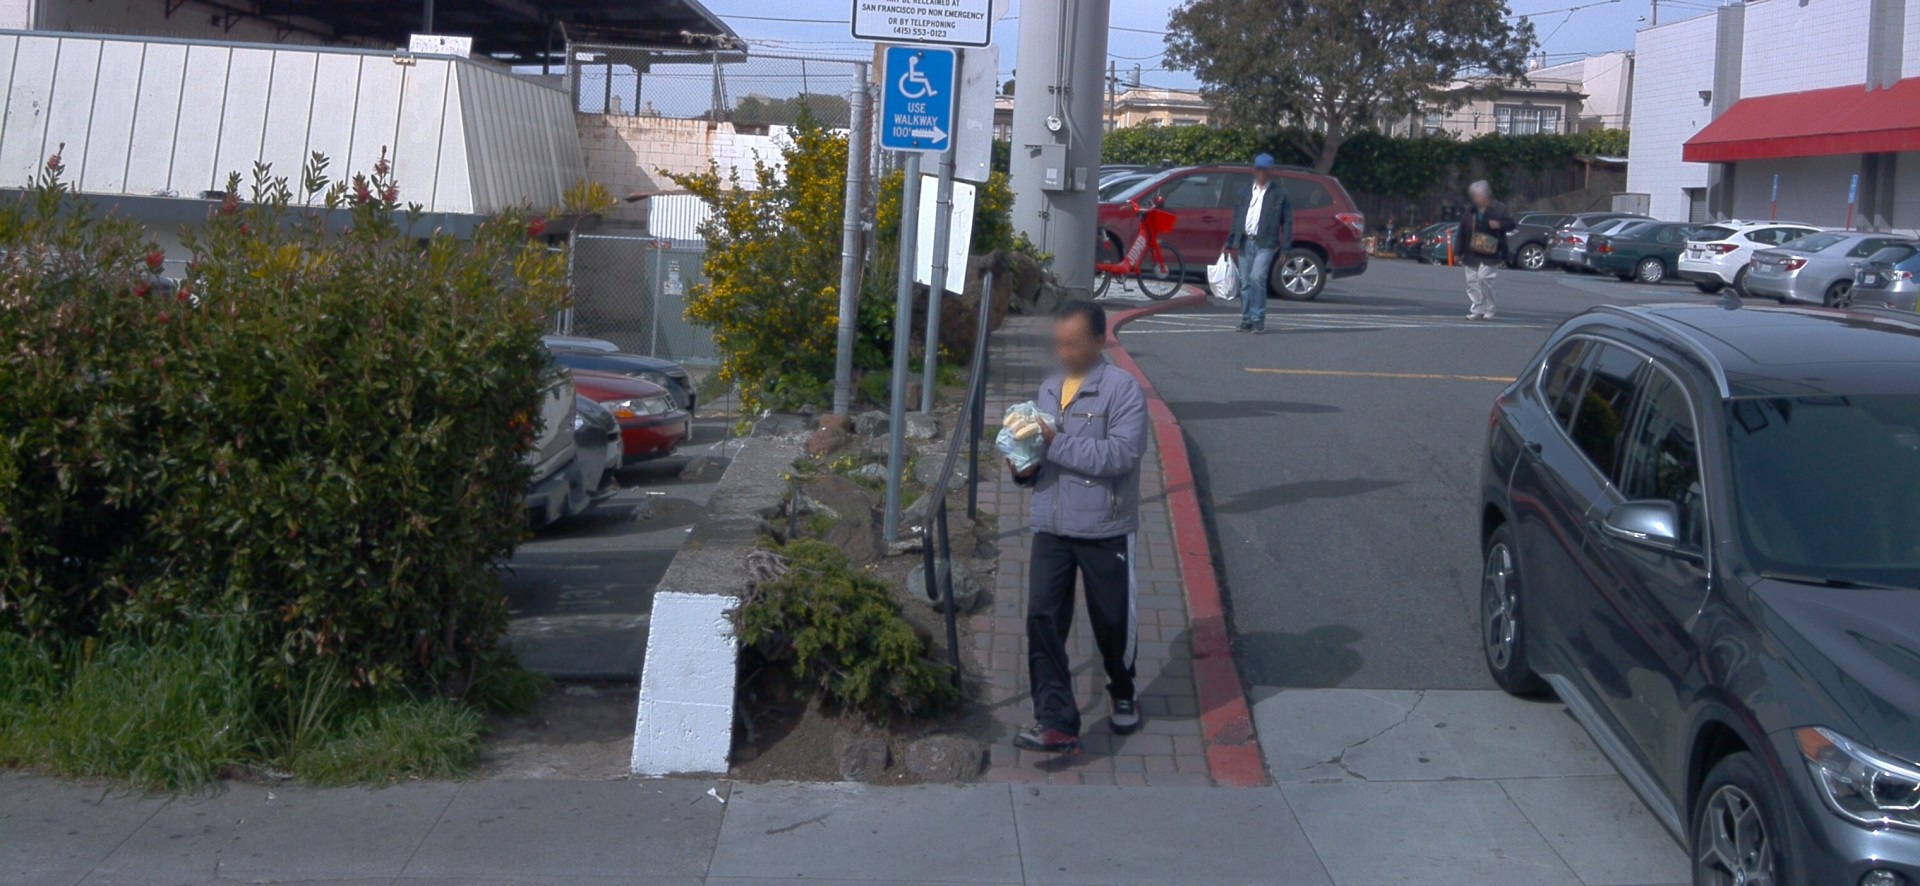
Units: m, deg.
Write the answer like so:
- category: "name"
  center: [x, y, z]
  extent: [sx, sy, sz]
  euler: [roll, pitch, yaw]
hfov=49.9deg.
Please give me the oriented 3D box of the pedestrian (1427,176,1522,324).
- category: "pedestrian"
  center: [6.037, -2.266, 24.197]
  extent: [0.870, 1.685, 0.833]
  euler: [1, 1, 31]

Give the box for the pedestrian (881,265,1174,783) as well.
- category: "pedestrian"
  center: [0.280, 0.223, 7.623]
  extent: [0.943, 1.743, 1.078]
  euler: [0, 2, 10]

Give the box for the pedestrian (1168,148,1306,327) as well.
- category: "pedestrian"
  center: [2.683, -1.986, 19.953]
  extent: [1.009, 1.670, 0.952]
  euler: [1, 2, 33]

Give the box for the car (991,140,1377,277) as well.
- category: "car"
  center: [2.867, -3.072, 27.212]
  extent: [4.792, 1.717, 2.140]
  euler: [0, 3, -3]

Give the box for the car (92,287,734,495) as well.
- category: "car"
  center: [-4.628, -0.510, 18.107]
  extent: [5.047, 1.657, 2.214]
  euler: [0, 4, 0]
